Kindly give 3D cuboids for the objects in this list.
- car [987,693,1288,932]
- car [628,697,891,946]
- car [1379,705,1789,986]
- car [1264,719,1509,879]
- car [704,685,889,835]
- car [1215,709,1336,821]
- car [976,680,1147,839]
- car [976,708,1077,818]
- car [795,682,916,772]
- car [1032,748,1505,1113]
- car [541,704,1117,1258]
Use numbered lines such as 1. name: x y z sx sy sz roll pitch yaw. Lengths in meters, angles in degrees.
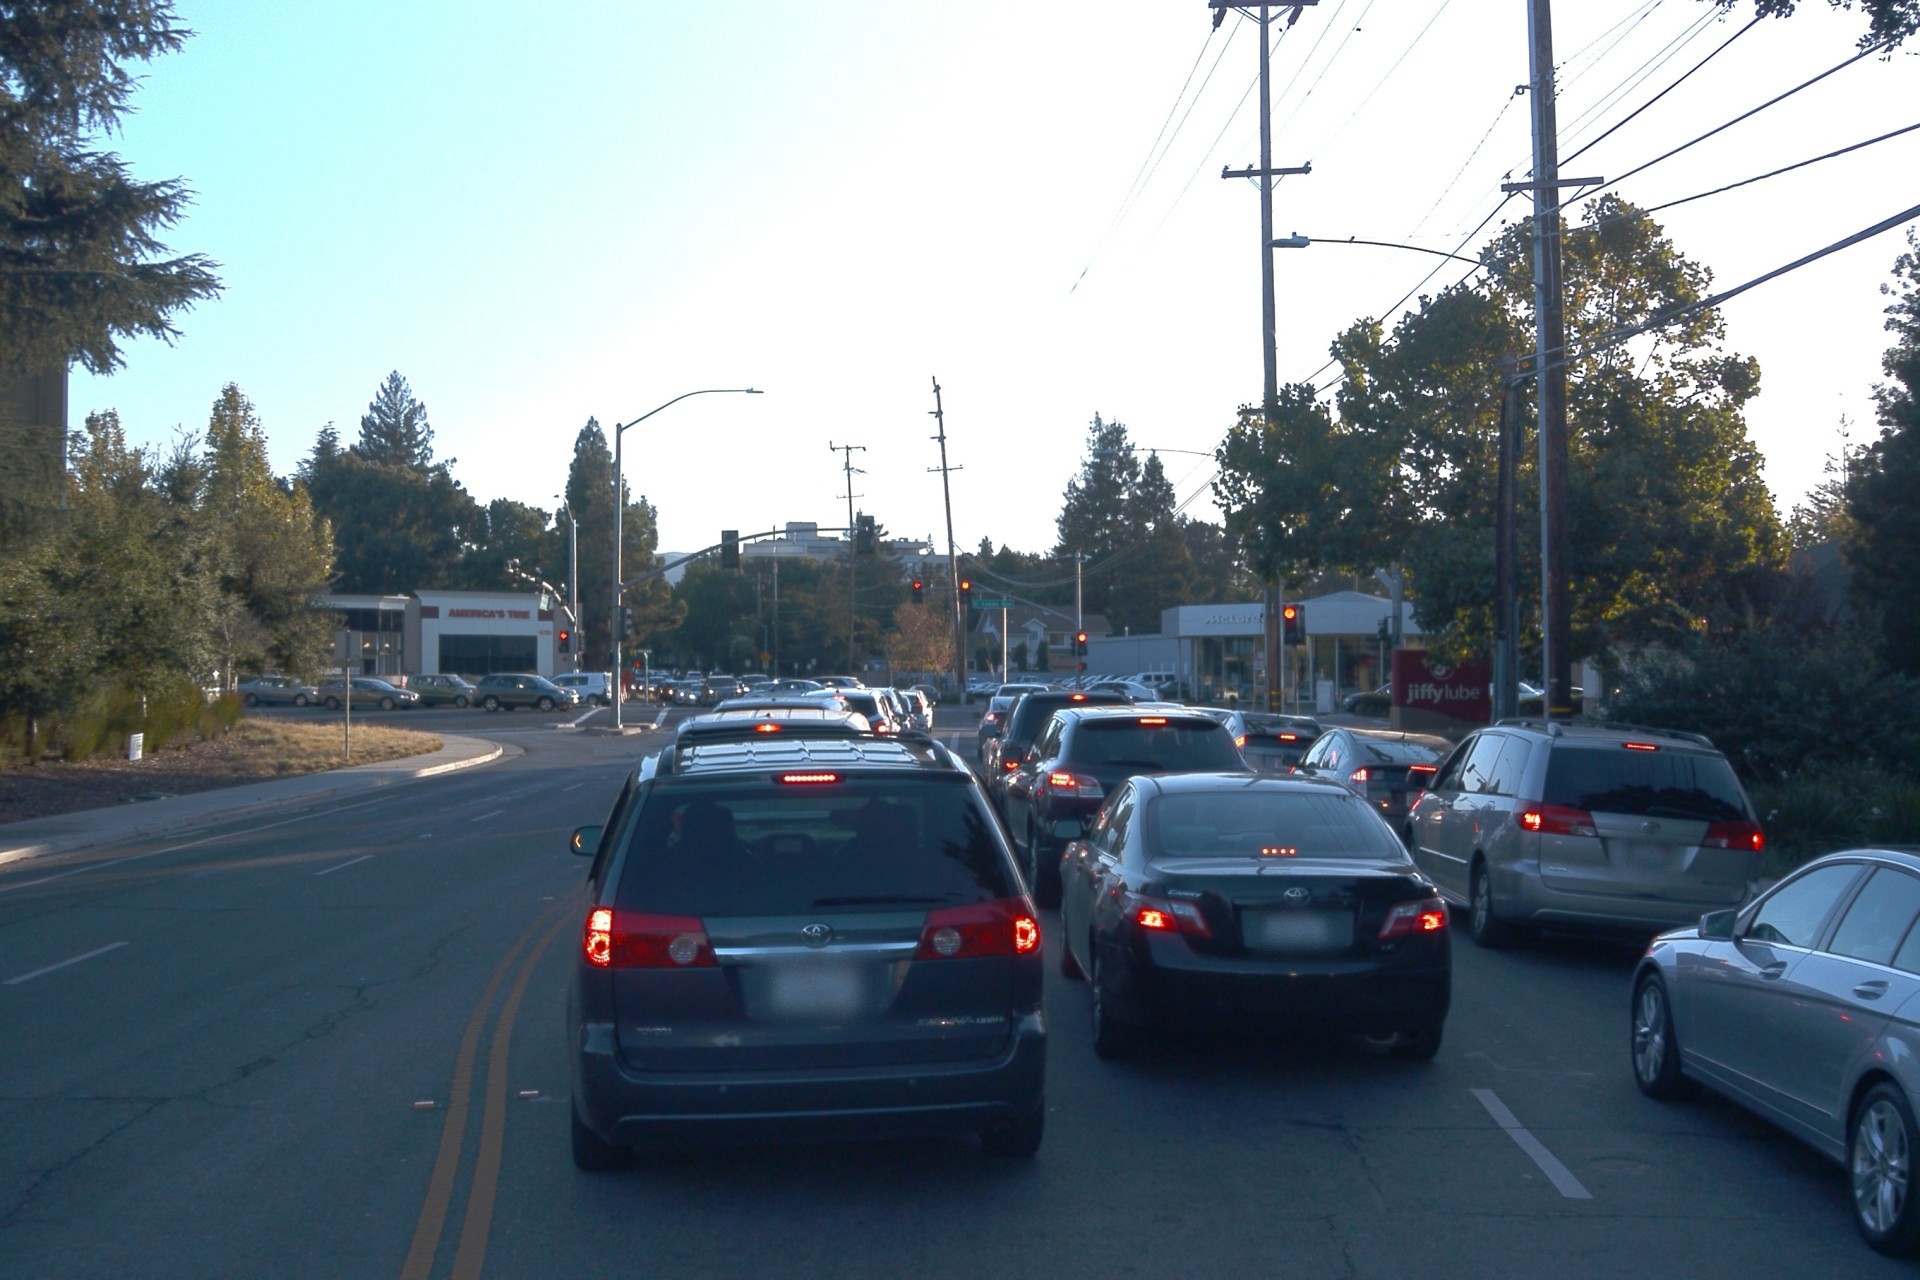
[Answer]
1. car: 1.458 1.435 18.843 1.992 1.810 4.553 0 0 -5
2. car: -1.454 1.307 16.304 1.812 1.620 4.042 0 0 -2
3. car: 4.903 1.525 17.100 2.061 1.850 4.903 0 0 2
4. car: 4.676 1.711 23.272 1.785 1.510 4.026 0 0 -2
5. car: -1.862 1.359 24.686 1.760 1.570 3.956 0 0 2
6. car: 4.670 1.825 30.934 1.418 1.490 3.138 0 0 2
7. car: 1.186 1.419 25.823 1.759 1.770 3.957 0 0 -3
8. car: 1.026 1.935 33.352 1.469 1.590 3.539 0 0 -1
9. car: -1.660 1.382 33.817 1.709 1.350 3.337 0 0 2
10. car: 1.529 1.479 11.982 1.915 1.490 4.528 0 0 -2
11. car: -0.875 1.305 10.240 2.102 1.830 5.461 0 0 -9
